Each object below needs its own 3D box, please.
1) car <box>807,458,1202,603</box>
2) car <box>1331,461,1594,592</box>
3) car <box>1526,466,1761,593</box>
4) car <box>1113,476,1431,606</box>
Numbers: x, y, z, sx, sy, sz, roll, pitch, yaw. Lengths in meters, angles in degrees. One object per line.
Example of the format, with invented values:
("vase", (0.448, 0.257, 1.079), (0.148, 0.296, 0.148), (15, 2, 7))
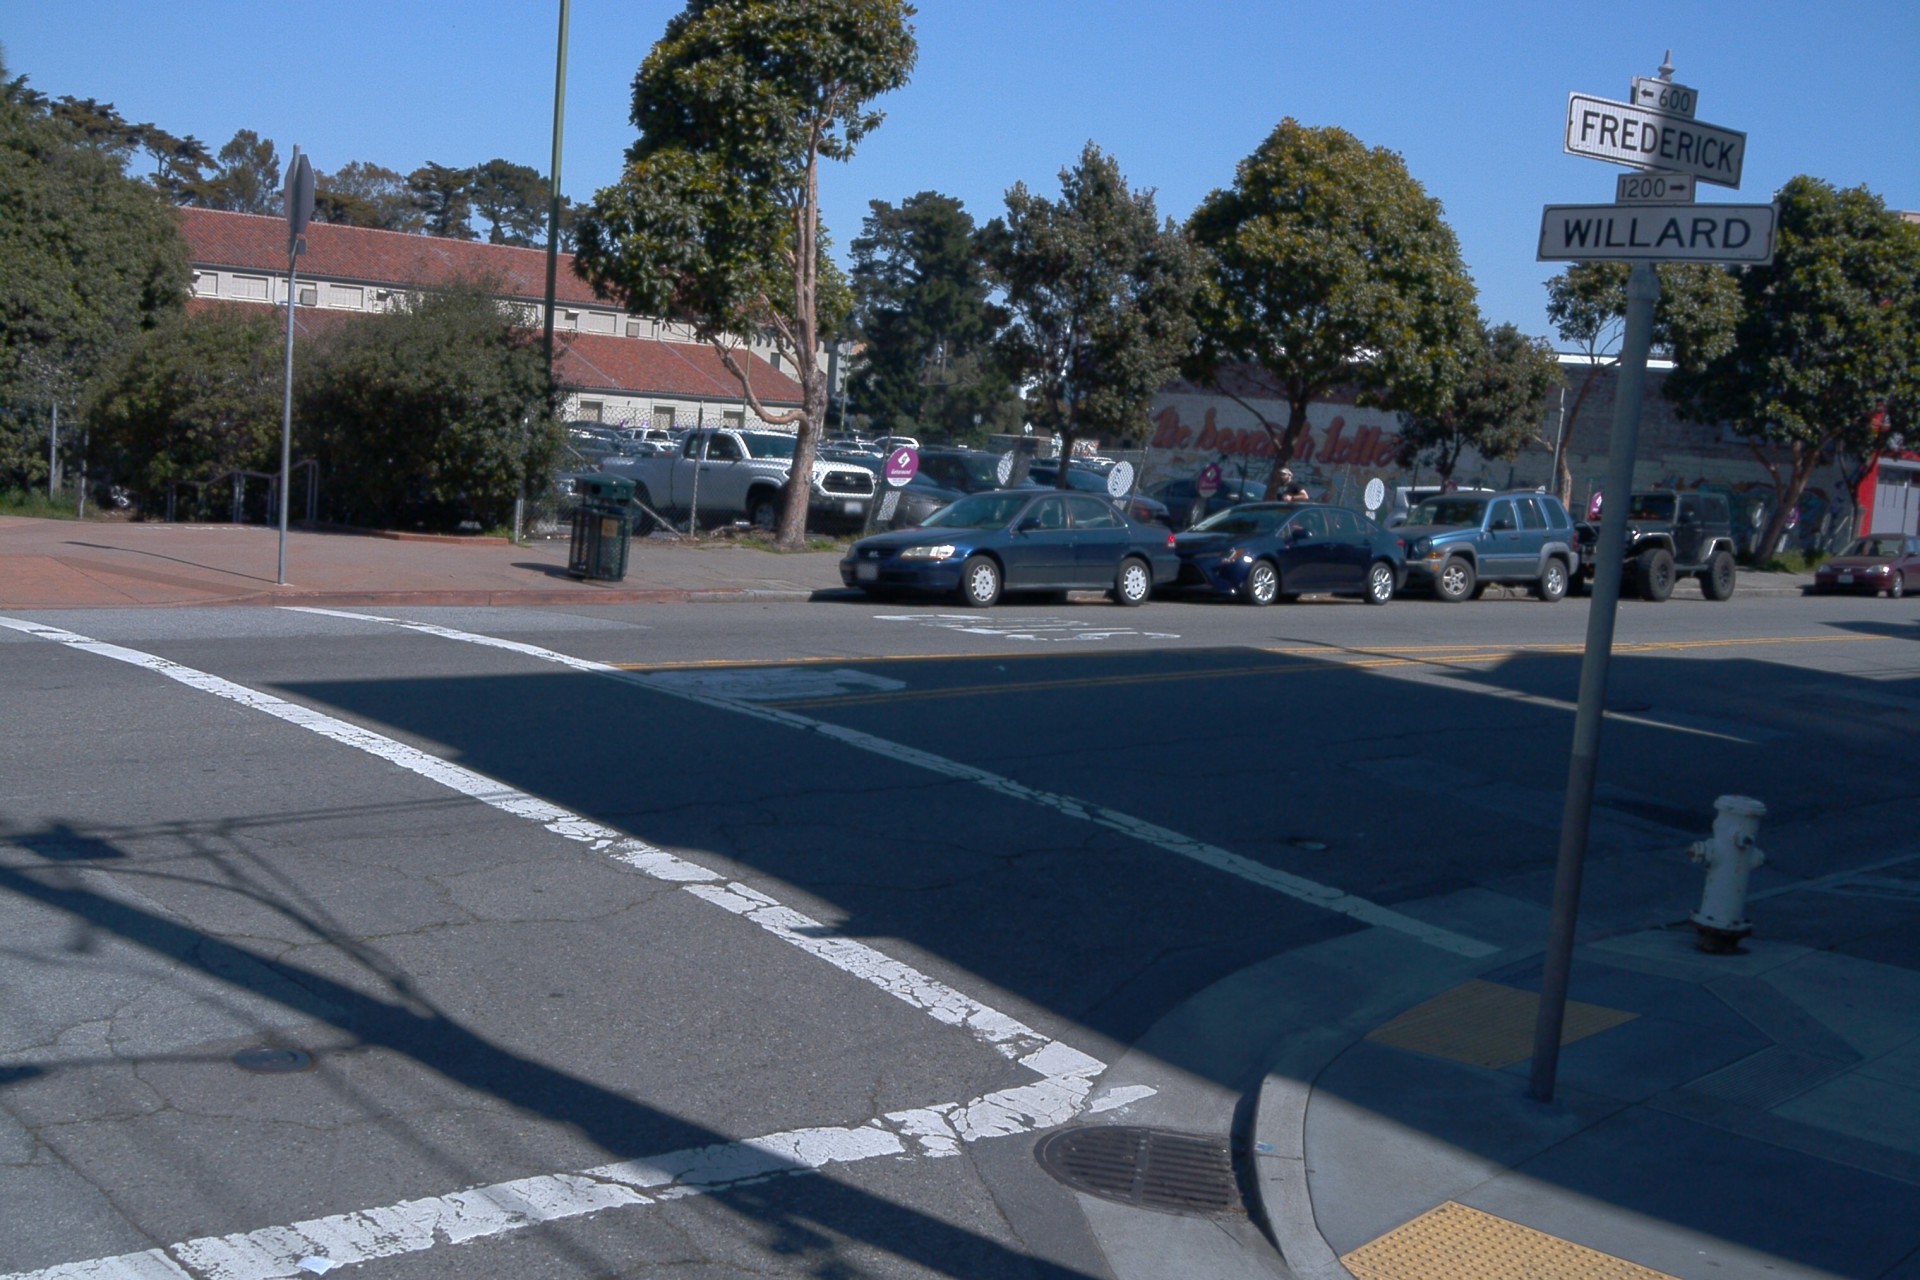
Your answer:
("car", (0.641, -1.257, 25.116), (4.876, 1.530, 2.008), (0, 0, -45))
("car", (8.031, -1.733, 32.516), (4.224, 1.840, 2.011), (0, 0, -42))
("car", (12.102, -1.876, 36.072), (4.382, 2.010, 2.078), (0, 0, -43))
("car", (4.408, -1.311, 28.467), (4.567, 1.590, 1.947), (0, 0, -43))
